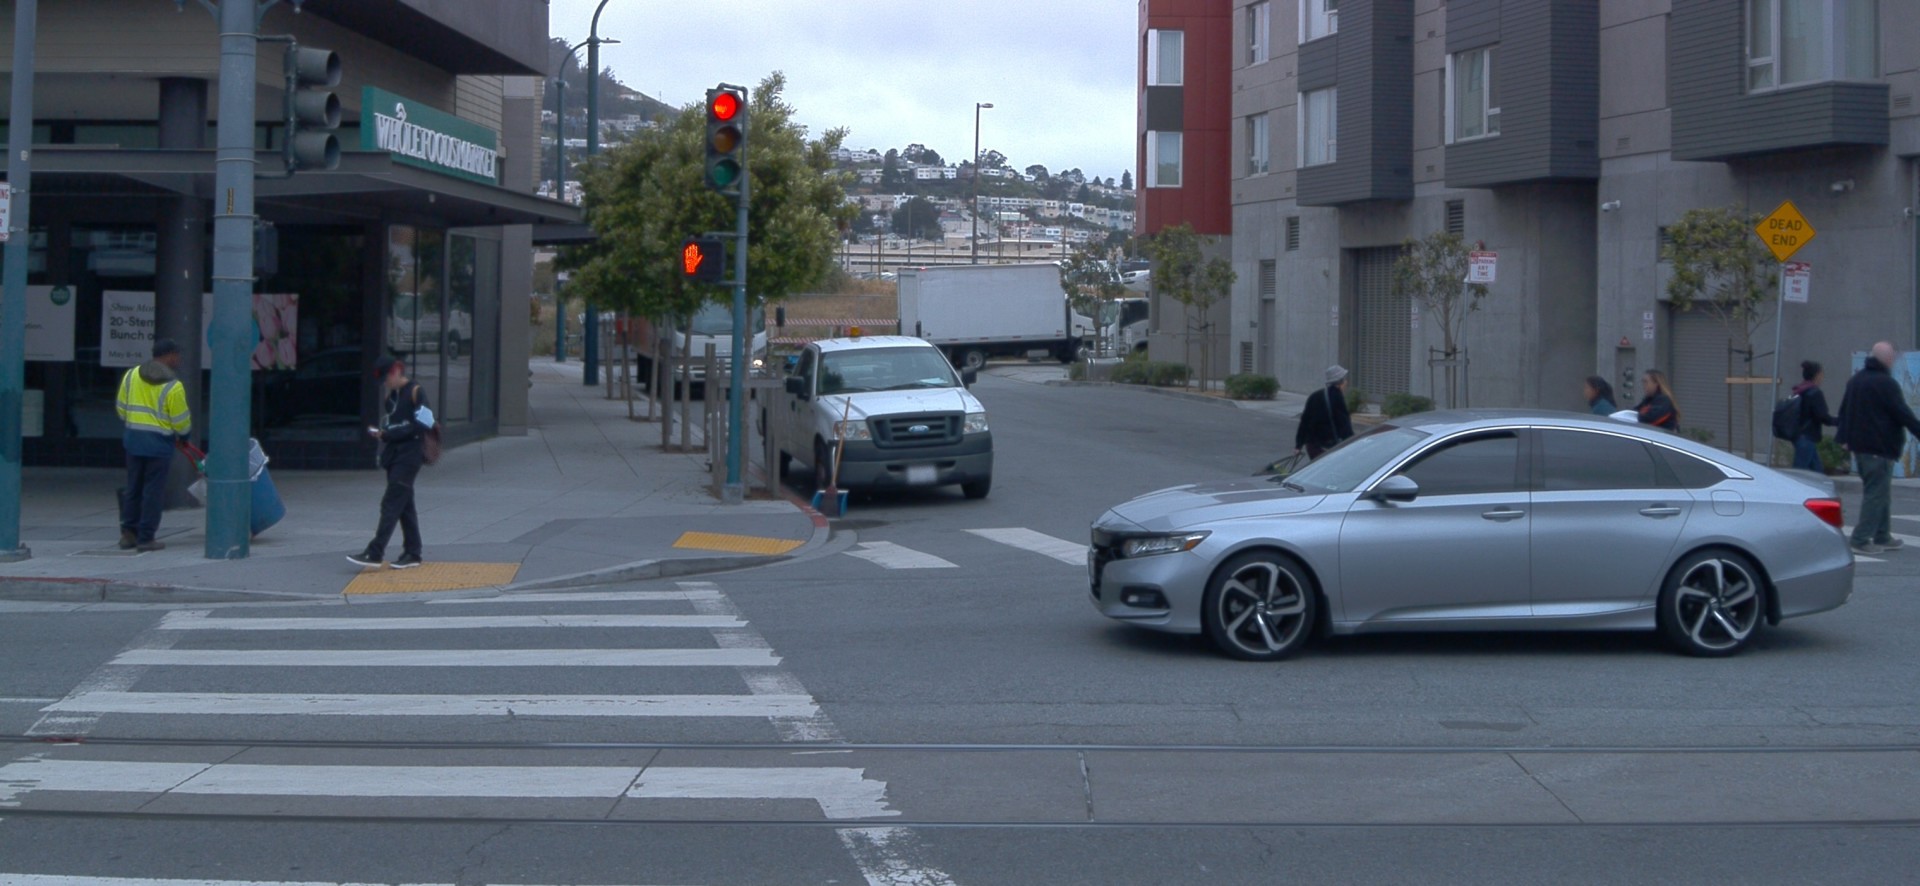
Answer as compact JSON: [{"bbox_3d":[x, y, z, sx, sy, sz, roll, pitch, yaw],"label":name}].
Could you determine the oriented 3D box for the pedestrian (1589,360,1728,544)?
[{"bbox_3d":[6.461,0.067,19.114,1.024,1.610,0.729,0,2,-4],"label":"pedestrian"}]

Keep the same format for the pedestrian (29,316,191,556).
[{"bbox_3d":[-6.940,-0.082,16.869,0.960,1.867,0.733,0,2,9],"label":"pedestrian"}]

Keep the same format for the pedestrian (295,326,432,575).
[{"bbox_3d":[-4.776,0.030,16.516,0.830,1.868,0.718,-2,2,-38],"label":"pedestrian"}]

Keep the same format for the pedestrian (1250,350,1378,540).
[{"bbox_3d":[3.353,-0.001,19.574,0.983,1.687,0.811,-1,2,-11],"label":"pedestrian"}]

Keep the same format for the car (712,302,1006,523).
[{"bbox_3d":[-1.424,-0.543,25.249,2.345,2.039,6.087,-1,6,-15],"label":"car"}]

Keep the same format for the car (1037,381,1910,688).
[{"bbox_3d":[3.010,0.479,12.887,4.870,1.494,2.200,-1,5,-3],"label":"car"}]

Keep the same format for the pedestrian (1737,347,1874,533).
[{"bbox_3d":[8.312,-0.047,20.316,0.986,1.727,0.863,0,2,-1],"label":"pedestrian"}]
